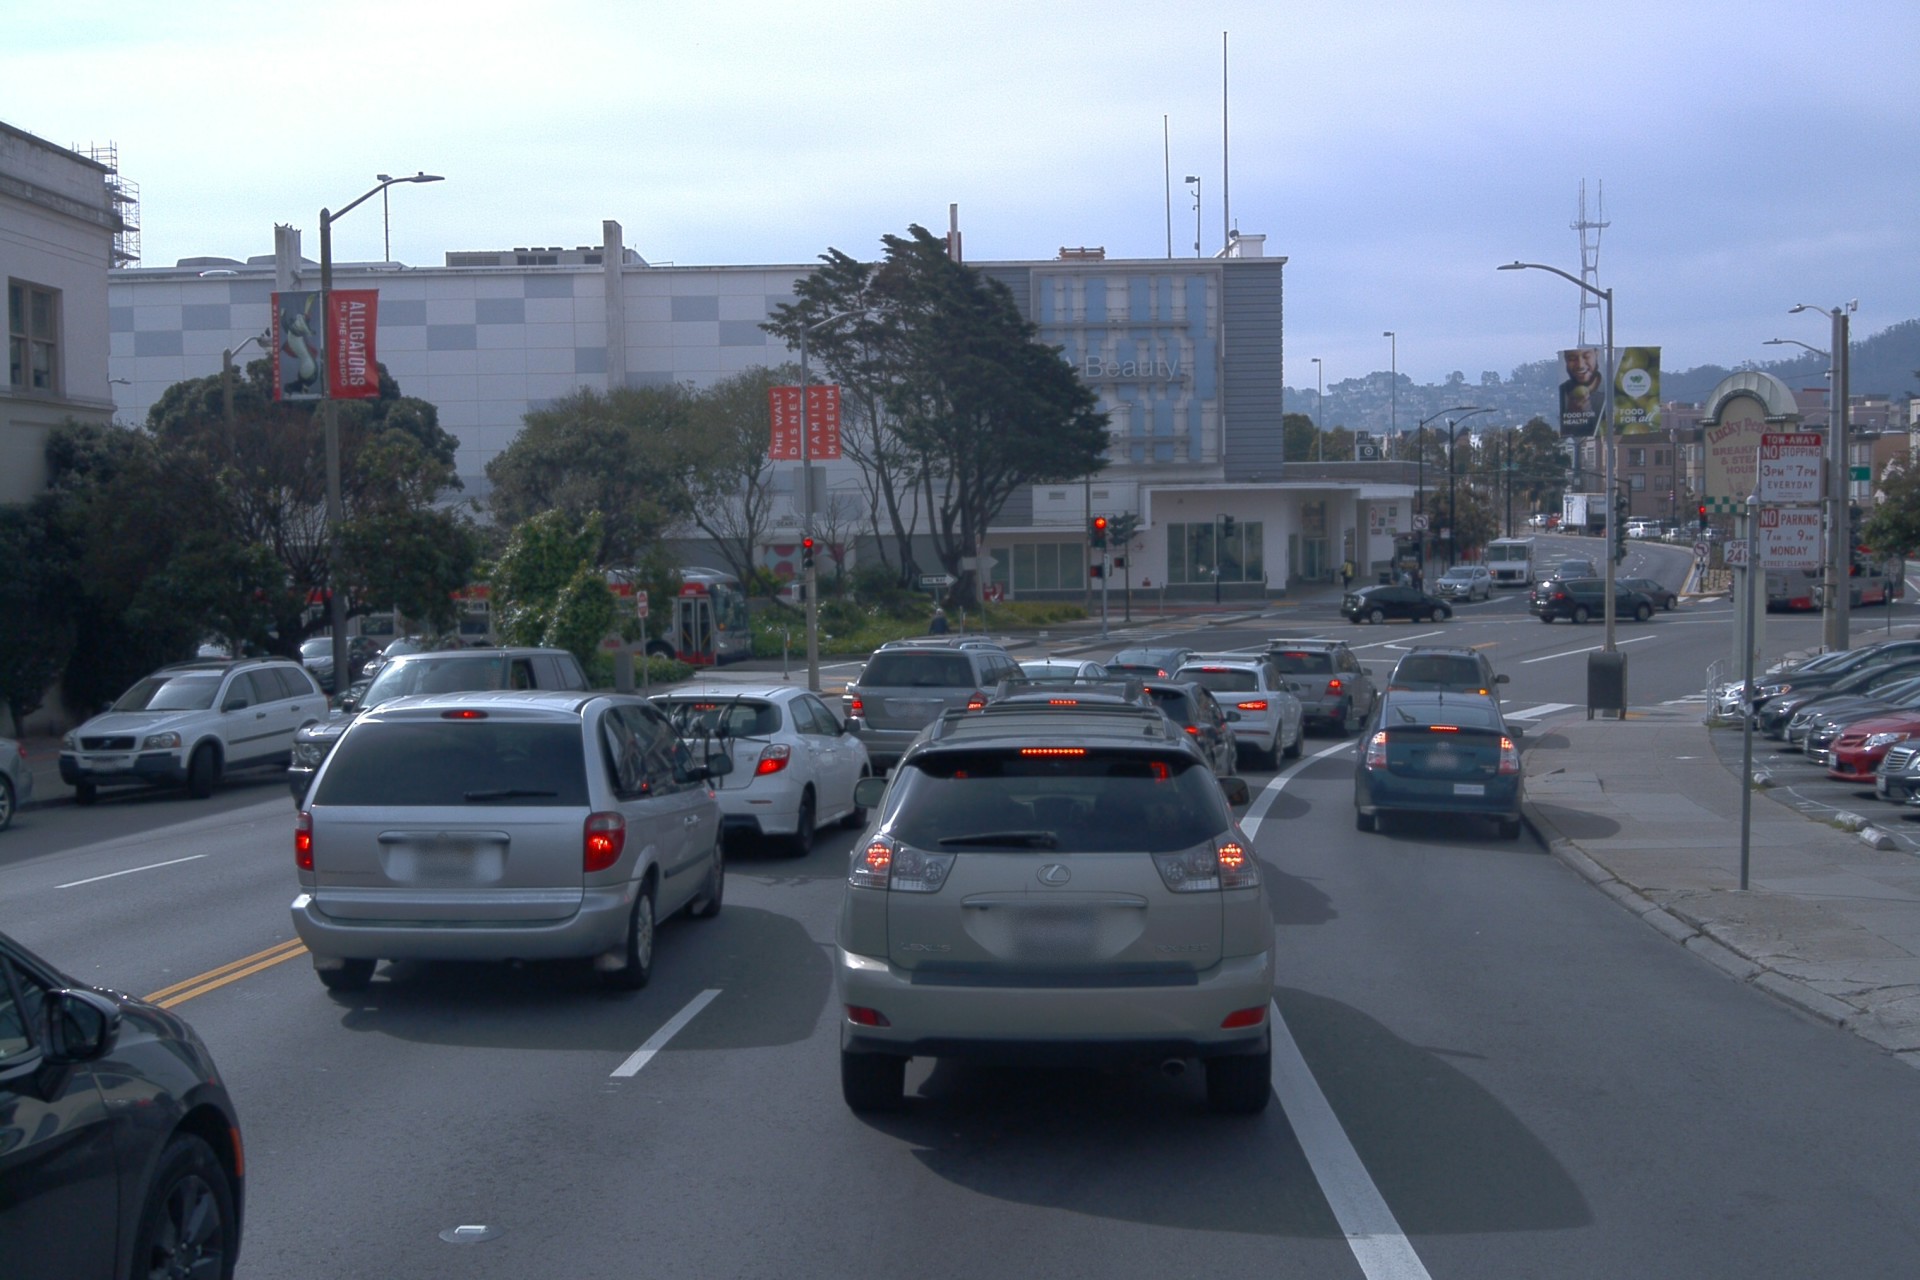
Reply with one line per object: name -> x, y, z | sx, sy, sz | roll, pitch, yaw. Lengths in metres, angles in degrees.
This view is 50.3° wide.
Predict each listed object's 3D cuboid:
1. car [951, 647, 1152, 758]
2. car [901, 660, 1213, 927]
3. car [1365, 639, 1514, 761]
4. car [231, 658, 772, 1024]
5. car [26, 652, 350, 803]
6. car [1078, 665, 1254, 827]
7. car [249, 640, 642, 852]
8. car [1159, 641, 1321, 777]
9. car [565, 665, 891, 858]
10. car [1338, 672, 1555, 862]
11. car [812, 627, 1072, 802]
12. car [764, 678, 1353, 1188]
car -> 1.631, 0.987, 34.526 | 2.220, 1.670, 4.643 | 1, 0, 18
car -> 0.971, 1.143, 17.258 | 2.119, 1.870, 4.391 | 1, 0, 9
car -> 8.708, 0.999, 36.808 | 2.203, 2.020, 4.801 | 1, 0, 18
car -> -2.635, 1.071, 13.059 | 2.131, 1.830, 4.635 | 1, 0, 4
car -> -10.353, 1.101, 27.897 | 2.060, 1.800, 4.806 | 1, 0, 8
car -> 2.637, 1.237, 25.468 | 1.526, 1.780, 3.939 | 1, 0, 16
car -> -5.292, 0.998, 21.894 | 2.247, 1.960, 4.915 | 1, 0, 10
car -> 4.316, 0.977, 31.030 | 1.795, 1.880, 4.044 | 1, 0, 17
car -> -2.050, 1.053, 19.467 | 1.982, 1.530, 4.306 | 1, 0, 9
car -> 5.325, 1.304, 22.867 | 2.113, 1.790, 4.646 | 1, 0, 11
car -> -0.113, 0.889, 27.293 | 2.236, 2.100, 4.827 | 1, 0, 15
car -> 0.443, 1.138, 9.923 | 2.197, 1.780, 4.467 | 1, 0, 2
